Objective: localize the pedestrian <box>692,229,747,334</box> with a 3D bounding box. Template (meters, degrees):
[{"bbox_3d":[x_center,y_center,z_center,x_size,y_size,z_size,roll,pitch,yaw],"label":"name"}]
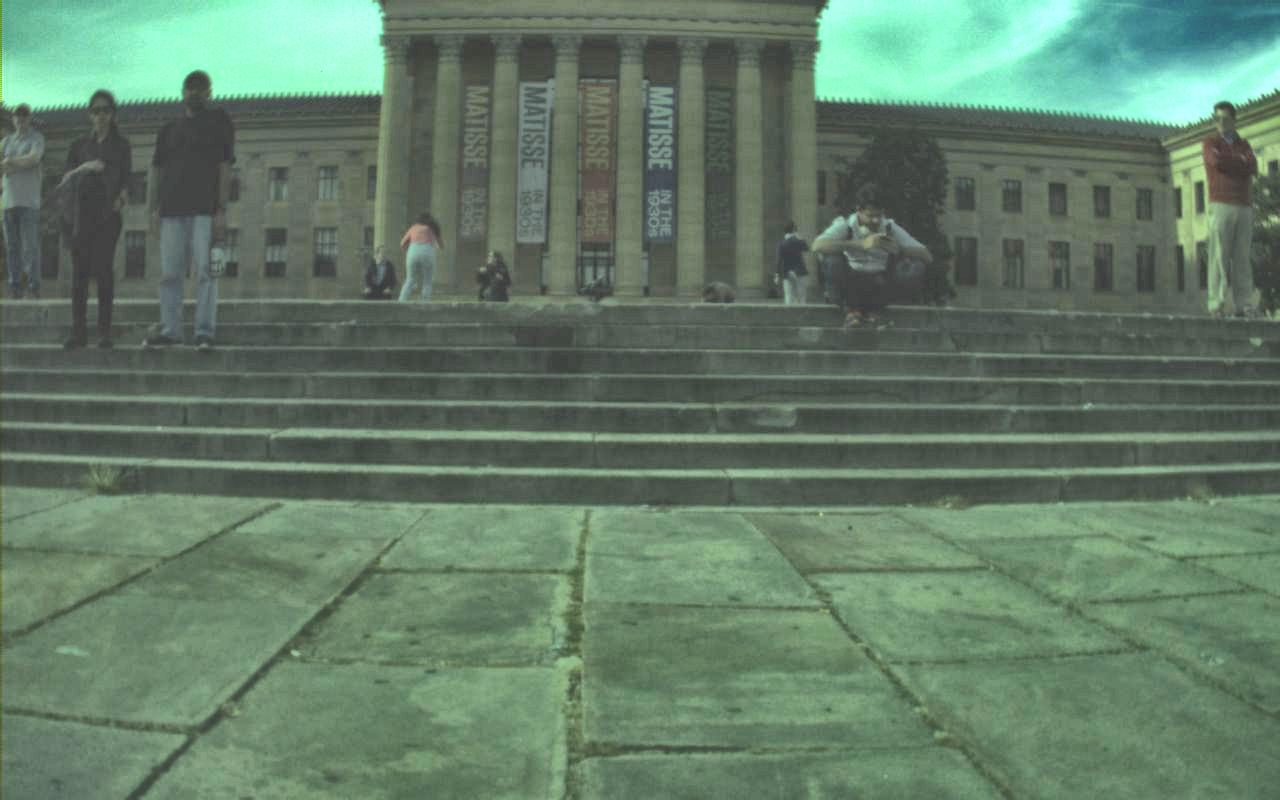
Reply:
[{"bbox_3d":[1.278,-1.890,20.273,0.752,1.648,0.763,0,0,14],"label":"pedestrian"}]

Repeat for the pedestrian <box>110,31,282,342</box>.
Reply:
[{"bbox_3d":[-2.719,-1.253,7.238,0.776,1.813,0.775,0,0,3],"label":"pedestrian"}]

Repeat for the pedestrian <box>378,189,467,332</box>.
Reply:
[{"bbox_3d":[-2.776,-1.742,15.853,0.826,1.735,0.778,0,0,-43],"label":"pedestrian"}]

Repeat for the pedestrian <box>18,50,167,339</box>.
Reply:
[{"bbox_3d":[-3.450,-1.243,7.197,0.759,1.738,0.758,0,0,-11],"label":"pedestrian"}]

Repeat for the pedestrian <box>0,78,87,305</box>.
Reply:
[{"bbox_3d":[-5.403,-1.772,9.793,0.781,1.896,0.769,0,0,-3],"label":"pedestrian"}]

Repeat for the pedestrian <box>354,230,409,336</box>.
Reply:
[{"bbox_3d":[-4.231,-1.884,20.235,0.799,1.676,0.793,0,0,-19],"label":"pedestrian"}]

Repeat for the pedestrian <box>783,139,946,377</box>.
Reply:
[{"bbox_3d":[1.444,-0.867,7.980,0.798,1.442,0.716,1,0,41],"label":"pedestrian"}]

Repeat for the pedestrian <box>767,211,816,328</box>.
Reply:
[{"bbox_3d":[2.433,-2.087,20.213,0.768,1.823,0.744,0,0,4],"label":"pedestrian"}]

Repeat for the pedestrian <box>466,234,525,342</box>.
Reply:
[{"bbox_3d":[-2.371,-1.801,20.457,0.831,1.697,0.839,0,0,-15],"label":"pedestrian"}]

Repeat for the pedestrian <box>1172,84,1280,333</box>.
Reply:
[{"bbox_3d":[4.601,-1.441,8.864,0.778,1.855,0.775,0,0,14],"label":"pedestrian"}]
